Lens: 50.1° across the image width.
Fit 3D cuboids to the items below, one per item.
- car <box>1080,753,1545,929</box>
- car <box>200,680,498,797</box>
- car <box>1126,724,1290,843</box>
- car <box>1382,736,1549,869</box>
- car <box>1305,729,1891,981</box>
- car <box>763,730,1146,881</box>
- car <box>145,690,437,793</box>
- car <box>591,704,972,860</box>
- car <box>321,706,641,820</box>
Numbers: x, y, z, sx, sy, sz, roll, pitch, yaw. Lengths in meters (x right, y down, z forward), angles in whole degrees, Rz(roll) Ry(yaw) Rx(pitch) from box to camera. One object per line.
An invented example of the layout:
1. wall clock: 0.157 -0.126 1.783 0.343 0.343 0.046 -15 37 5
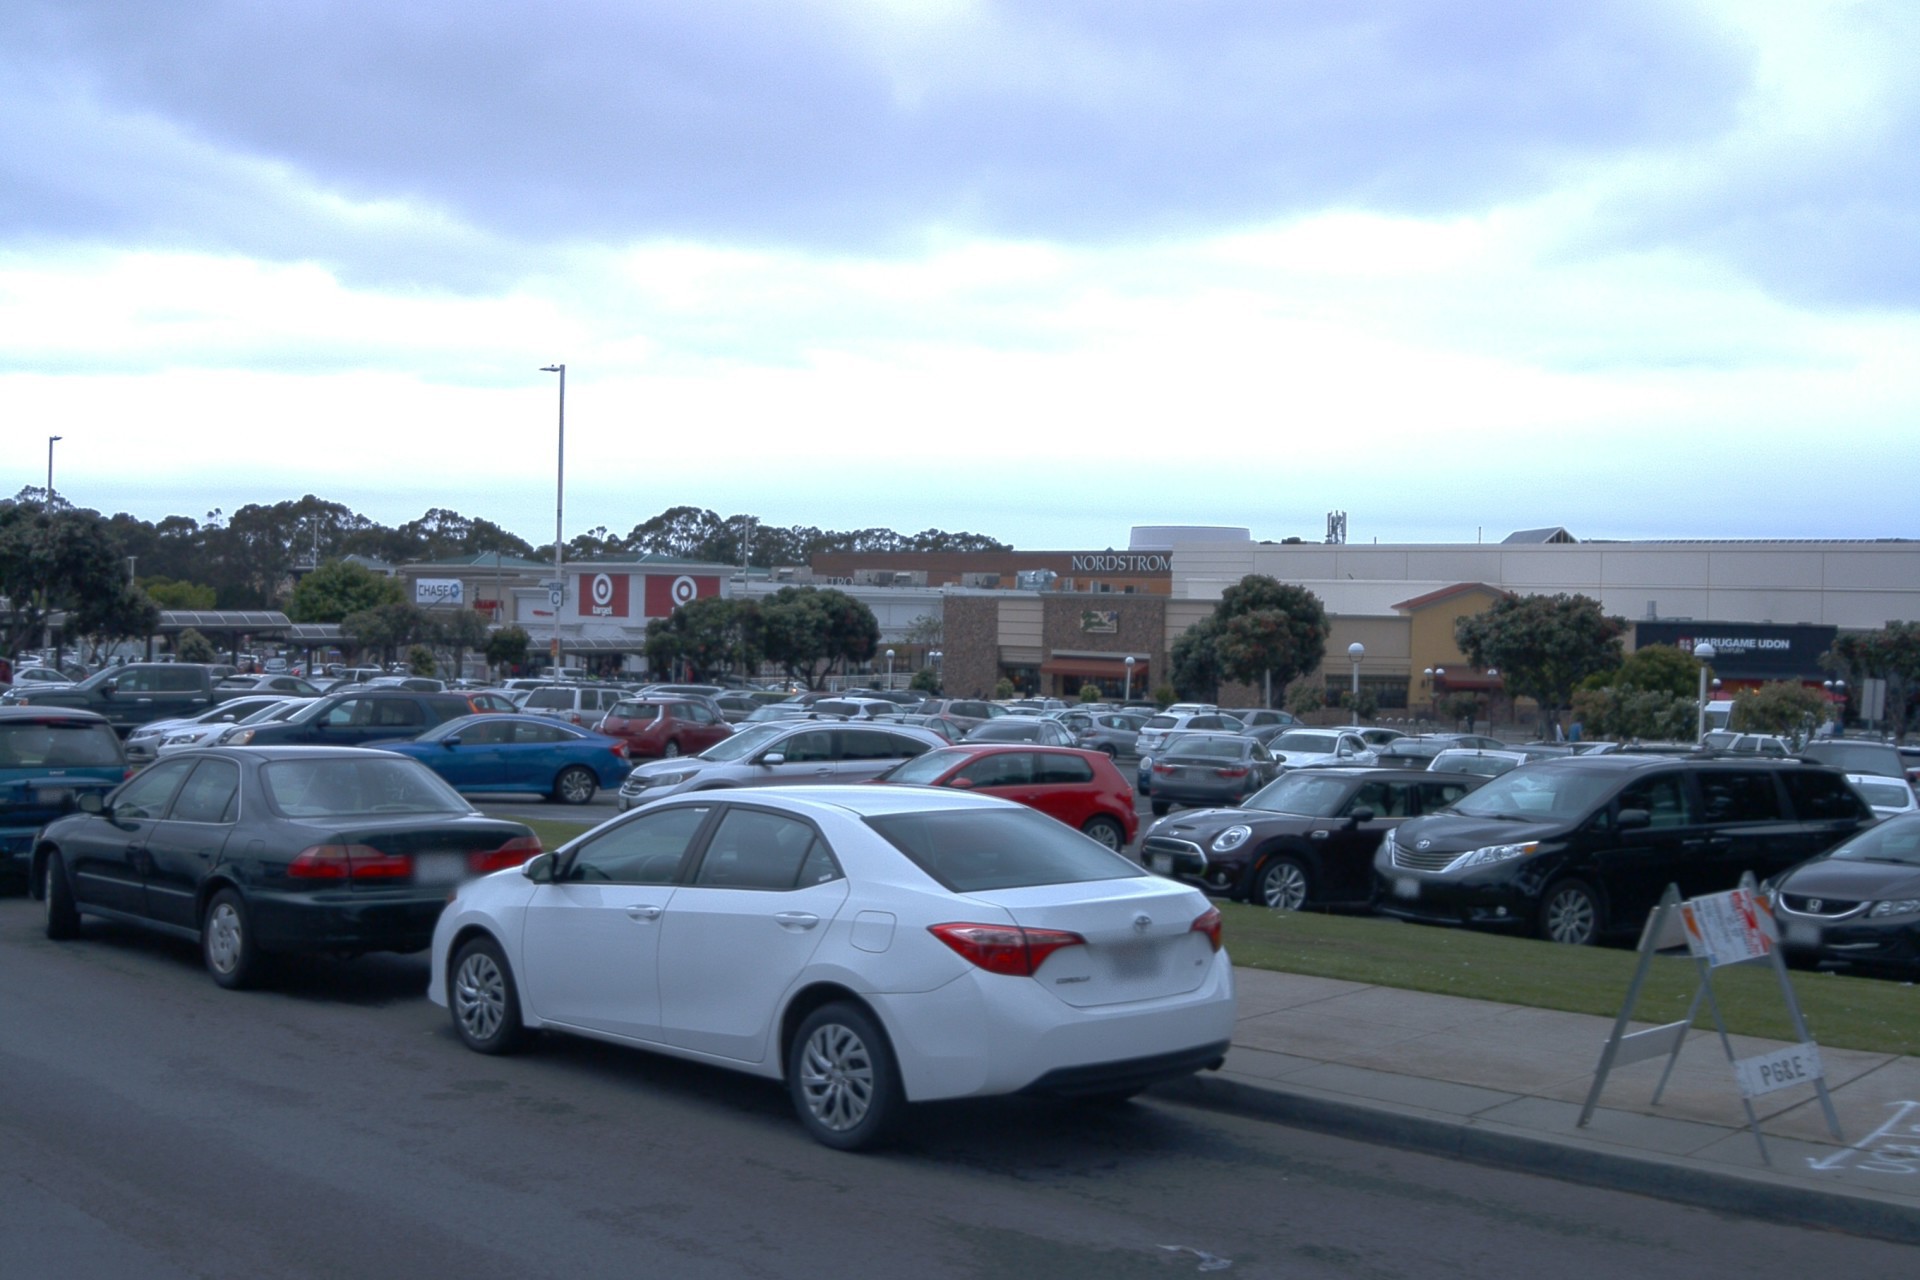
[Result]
1. car: 3.628 1.982 21.153 4.247 1.390 2.181 0 1 -27
2. car: -10.259 1.596 34.518 4.405 1.710 2.256 0 0 -28
3. car: 4.521 2.493 36.814 2.121 1.720 4.666 0 1 17
4. car: 8.078 2.487 32.570 2.029 1.670 4.511 0 1 21
5. car: 5.977 1.884 19.225 5.032 1.860 2.249 0 0 -26
6. car: -0.066 1.943 24.996 4.159 1.500 2.071 0 0 -27
7. car: -11.916 1.765 36.619 4.683 1.590 2.134 0 0 -26
8. car: -2.328 1.781 26.850 4.491 1.720 2.110 0 0 -26
9. car: -7.643 1.904 32.777 4.634 1.550 2.128 0 0 -23
